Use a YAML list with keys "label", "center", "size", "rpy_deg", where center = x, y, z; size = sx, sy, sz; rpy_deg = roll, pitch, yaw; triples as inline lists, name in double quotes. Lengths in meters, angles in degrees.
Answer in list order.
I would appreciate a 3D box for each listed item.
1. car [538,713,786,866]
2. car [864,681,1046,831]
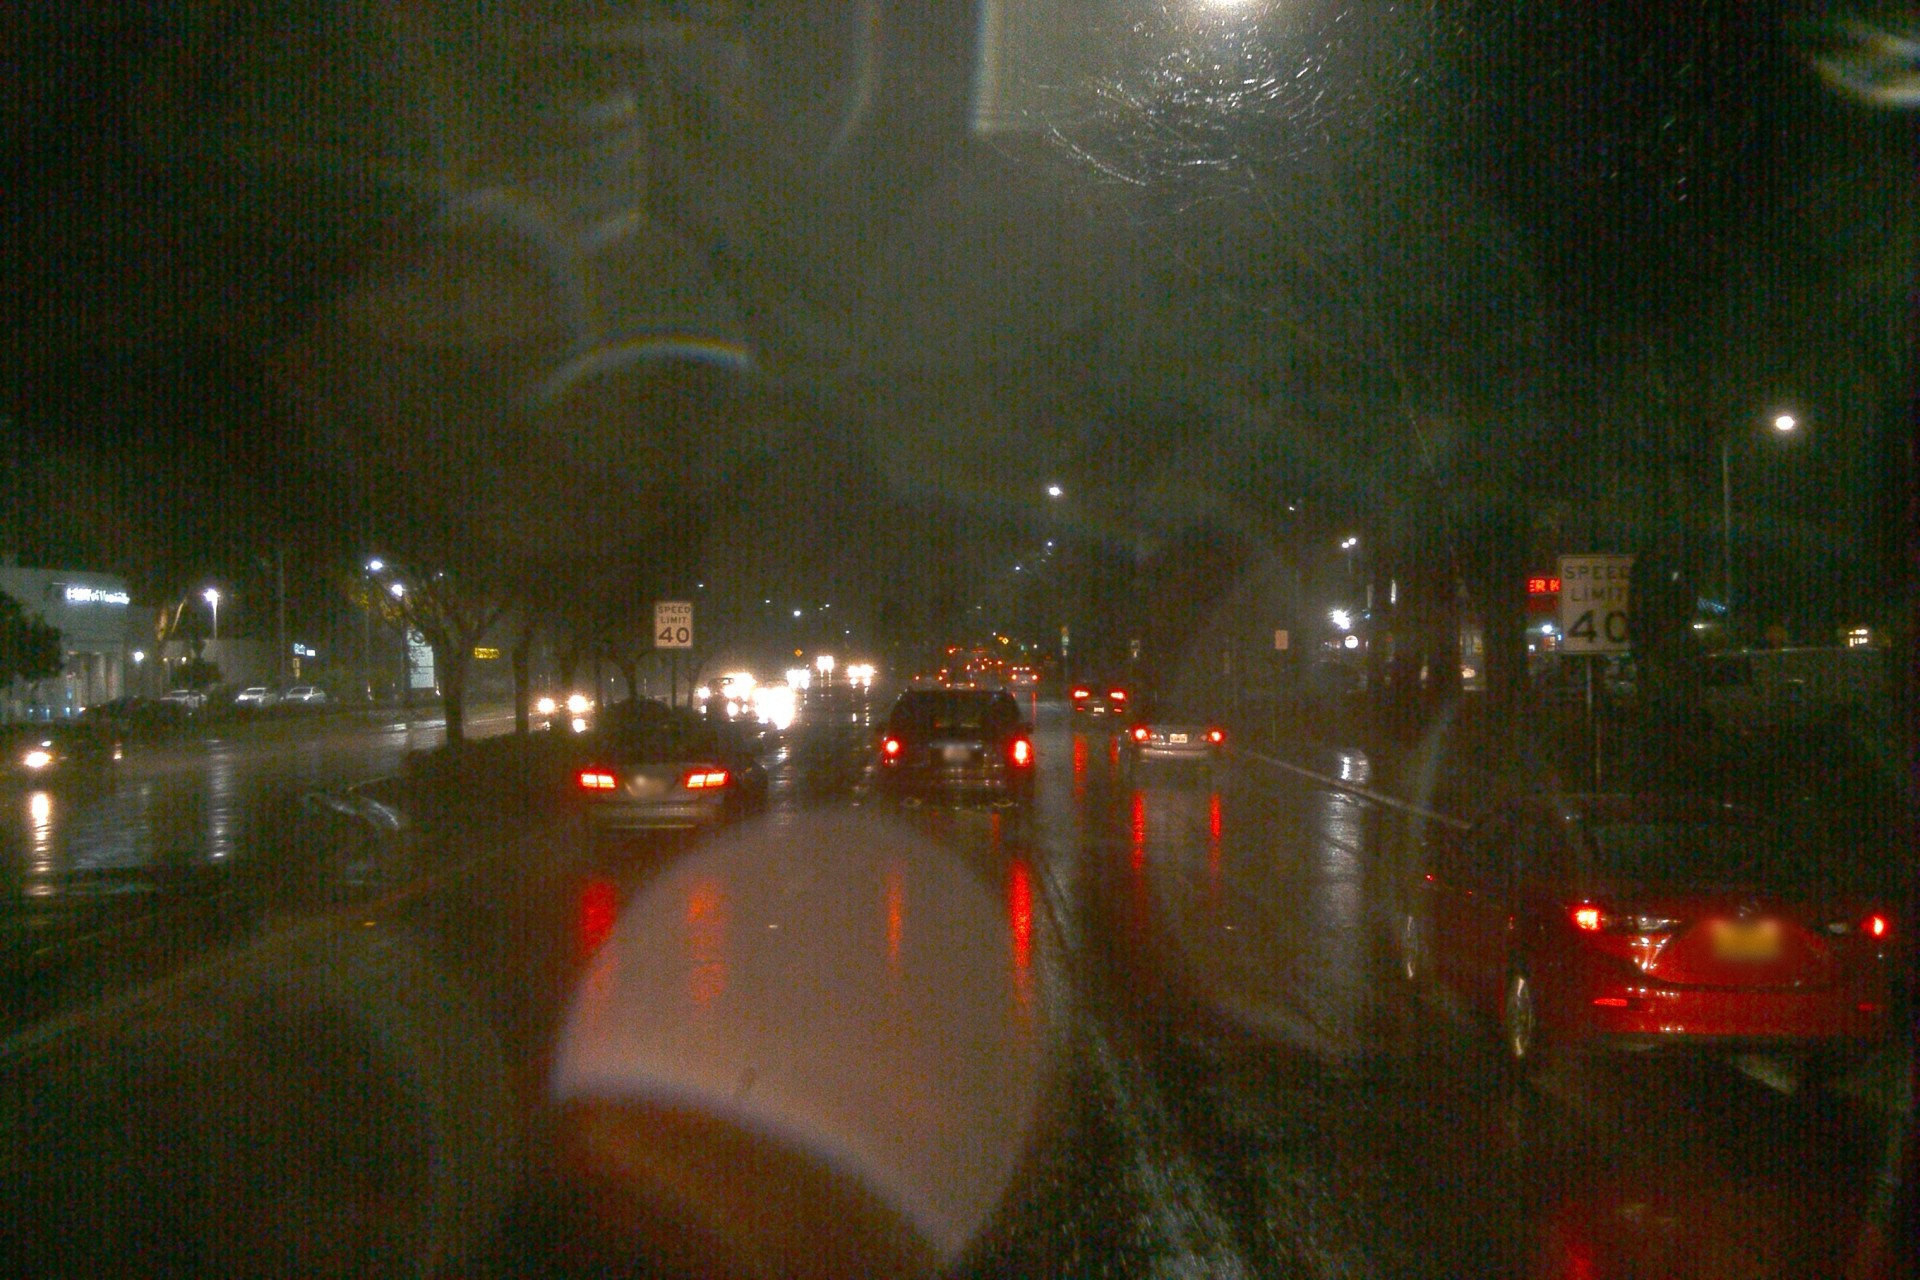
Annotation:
- label: "car"
  center: [-3.450, 1.711, 25.153]
  size: [2.307, 1.544, 4.878]
  rpy_deg: [0, -1, 0]
- label: "car"
  center: [-0.063, 1.458, 27.634]
  size: [2.222, 1.800, 4.381]
  rpy_deg: [0, -1, 0]
